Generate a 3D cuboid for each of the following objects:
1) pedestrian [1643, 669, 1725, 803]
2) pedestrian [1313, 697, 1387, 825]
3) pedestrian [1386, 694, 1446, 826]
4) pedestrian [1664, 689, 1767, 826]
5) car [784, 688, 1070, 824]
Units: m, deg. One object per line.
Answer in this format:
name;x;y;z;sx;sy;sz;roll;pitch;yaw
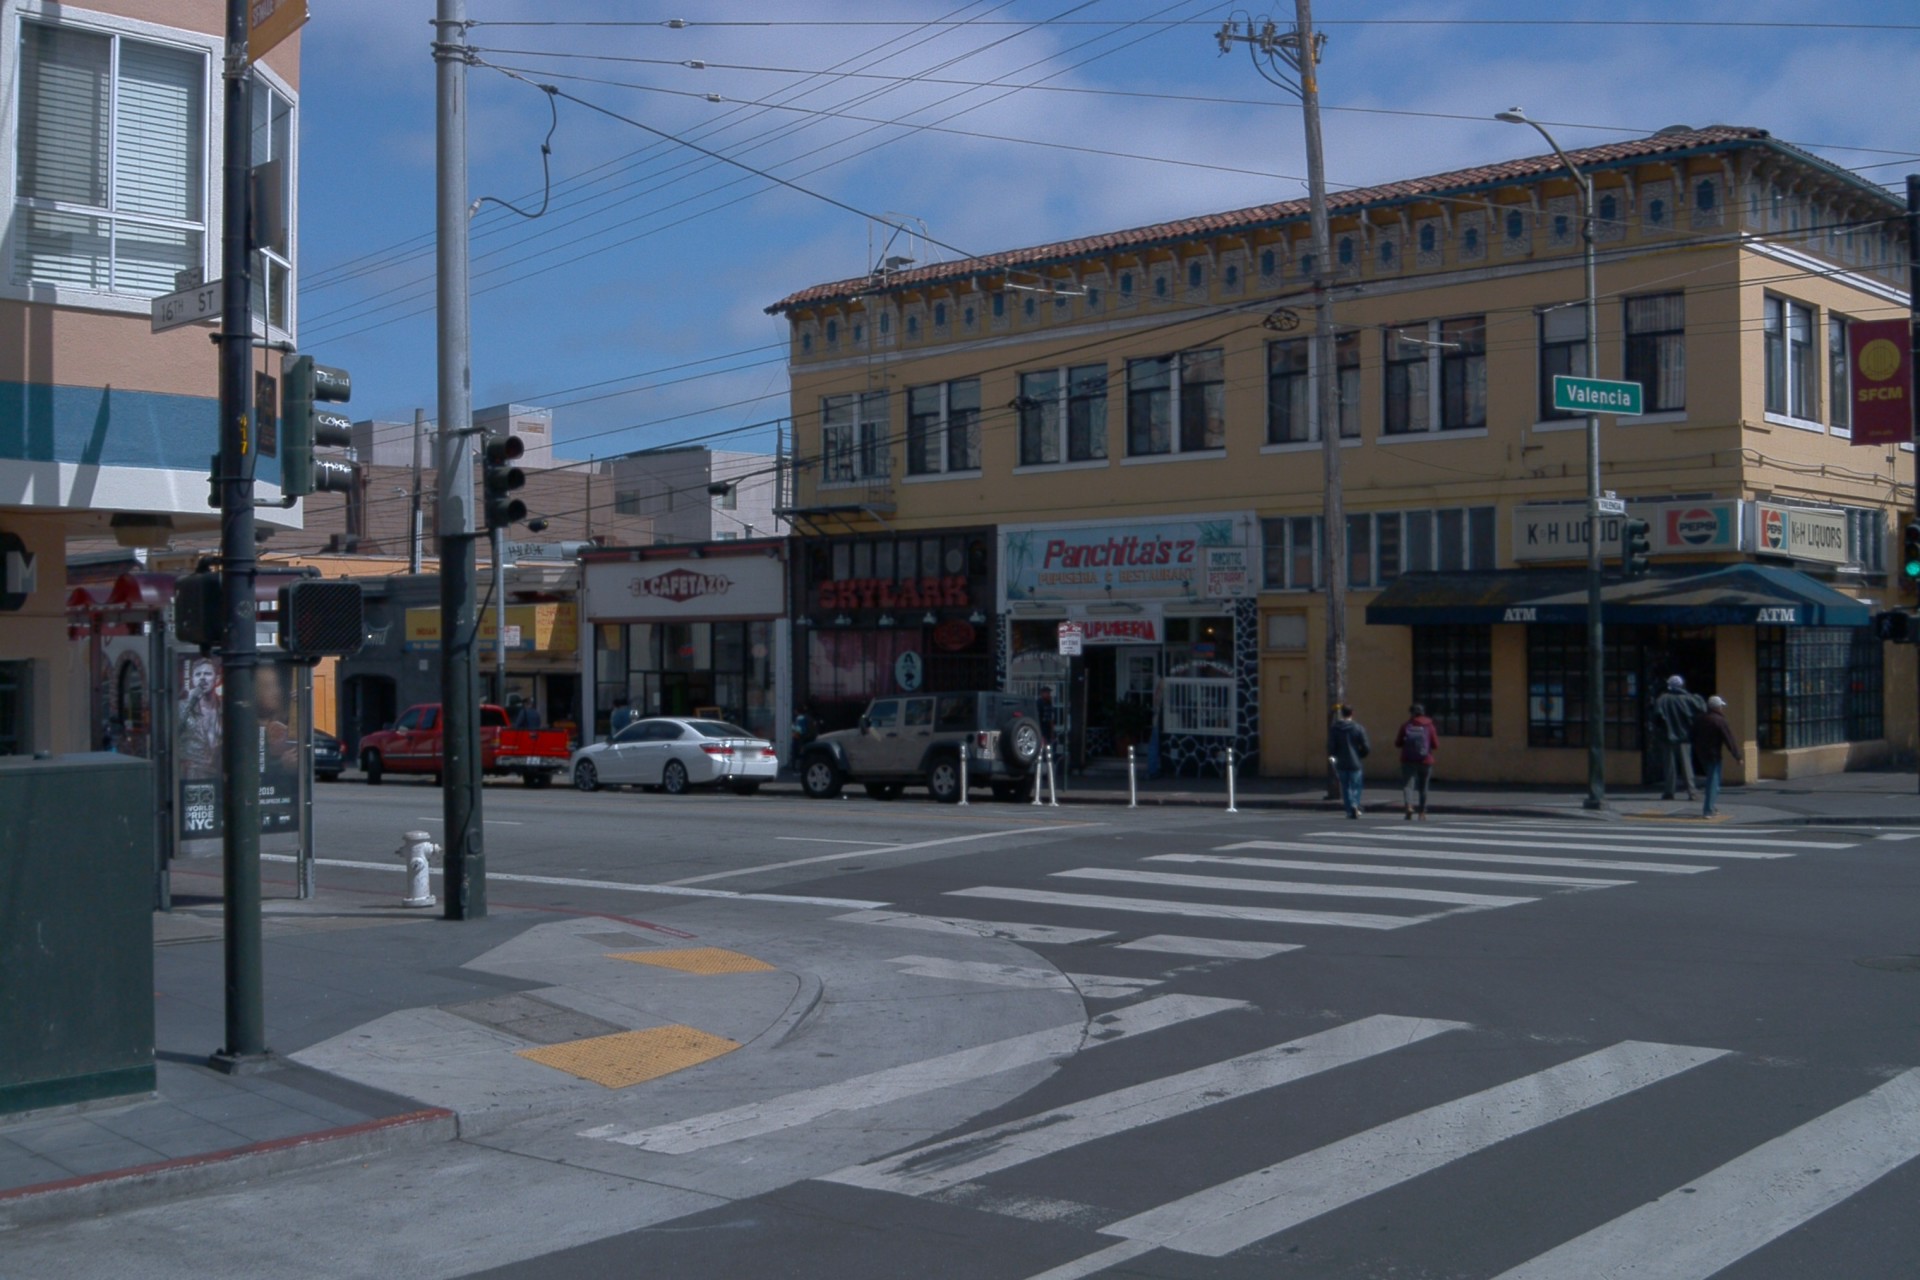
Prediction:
pedestrian;10.214;1.342;29.147;0.904;1.850;0.714;0;1;0
pedestrian;5.132;1.581;27.228;0.882;1.630;0.914;0;1;6
pedestrian;5.936;1.551;26.865;0.747;1.650;0.861;0;1;12
pedestrian;10.046;1.543;27.442;1.084;1.730;0.796;-1;1;-34
car;-0.612;1.873;34.710;4.715;1.960;2.025;1;1;43
